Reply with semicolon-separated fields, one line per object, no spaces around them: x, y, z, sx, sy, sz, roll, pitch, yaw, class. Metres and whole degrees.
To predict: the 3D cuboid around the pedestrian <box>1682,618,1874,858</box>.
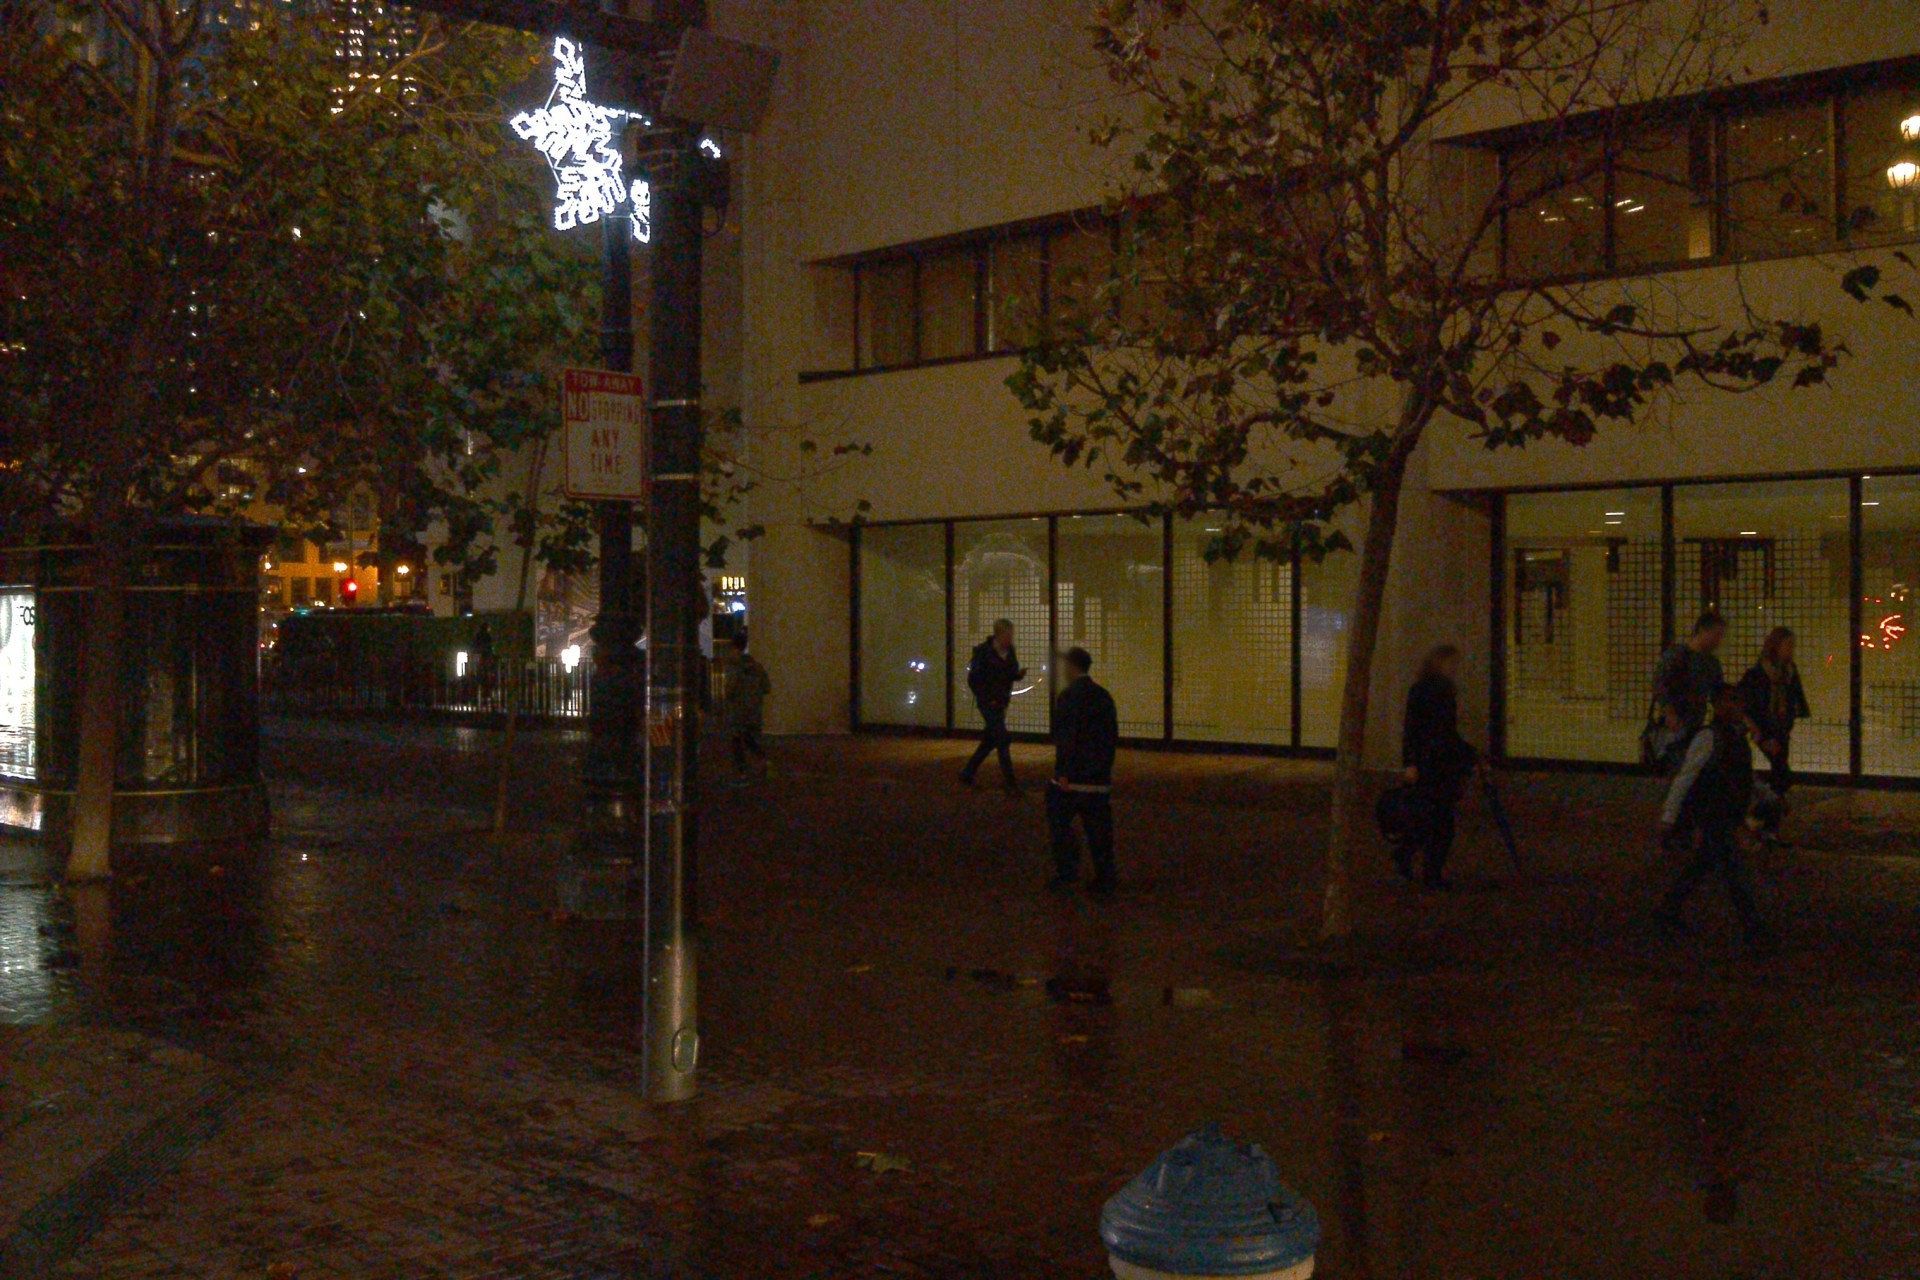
6.257;0.717;15.703;0.745;1.760;1.135;1;0;-36;pedestrian

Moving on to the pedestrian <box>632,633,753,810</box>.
-2.769;0.820;21.194;1.050;1.780;0.729;0;0;43;pedestrian

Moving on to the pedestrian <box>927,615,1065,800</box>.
0.366;0.665;20.889;1.114;1.830;0.841;0;0;44;pedestrian

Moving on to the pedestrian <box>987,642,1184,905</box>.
0.888;0.912;14.645;0.860;1.780;1.104;1;0;-42;pedestrian

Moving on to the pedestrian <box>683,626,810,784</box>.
-2.339;0.688;22.408;0.918;1.670;1.061;1;0;-41;pedestrian

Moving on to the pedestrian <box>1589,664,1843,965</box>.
4.433;0.974;12.042;0.845;1.650;1.109;1;0;-38;pedestrian

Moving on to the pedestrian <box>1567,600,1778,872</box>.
5.297;0.680;15.253;0.891;1.930;1.198;1;0;-43;pedestrian

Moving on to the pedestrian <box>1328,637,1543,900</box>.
3.334;0.863;14.386;0.966;1.750;1.094;1;0;-40;pedestrian
